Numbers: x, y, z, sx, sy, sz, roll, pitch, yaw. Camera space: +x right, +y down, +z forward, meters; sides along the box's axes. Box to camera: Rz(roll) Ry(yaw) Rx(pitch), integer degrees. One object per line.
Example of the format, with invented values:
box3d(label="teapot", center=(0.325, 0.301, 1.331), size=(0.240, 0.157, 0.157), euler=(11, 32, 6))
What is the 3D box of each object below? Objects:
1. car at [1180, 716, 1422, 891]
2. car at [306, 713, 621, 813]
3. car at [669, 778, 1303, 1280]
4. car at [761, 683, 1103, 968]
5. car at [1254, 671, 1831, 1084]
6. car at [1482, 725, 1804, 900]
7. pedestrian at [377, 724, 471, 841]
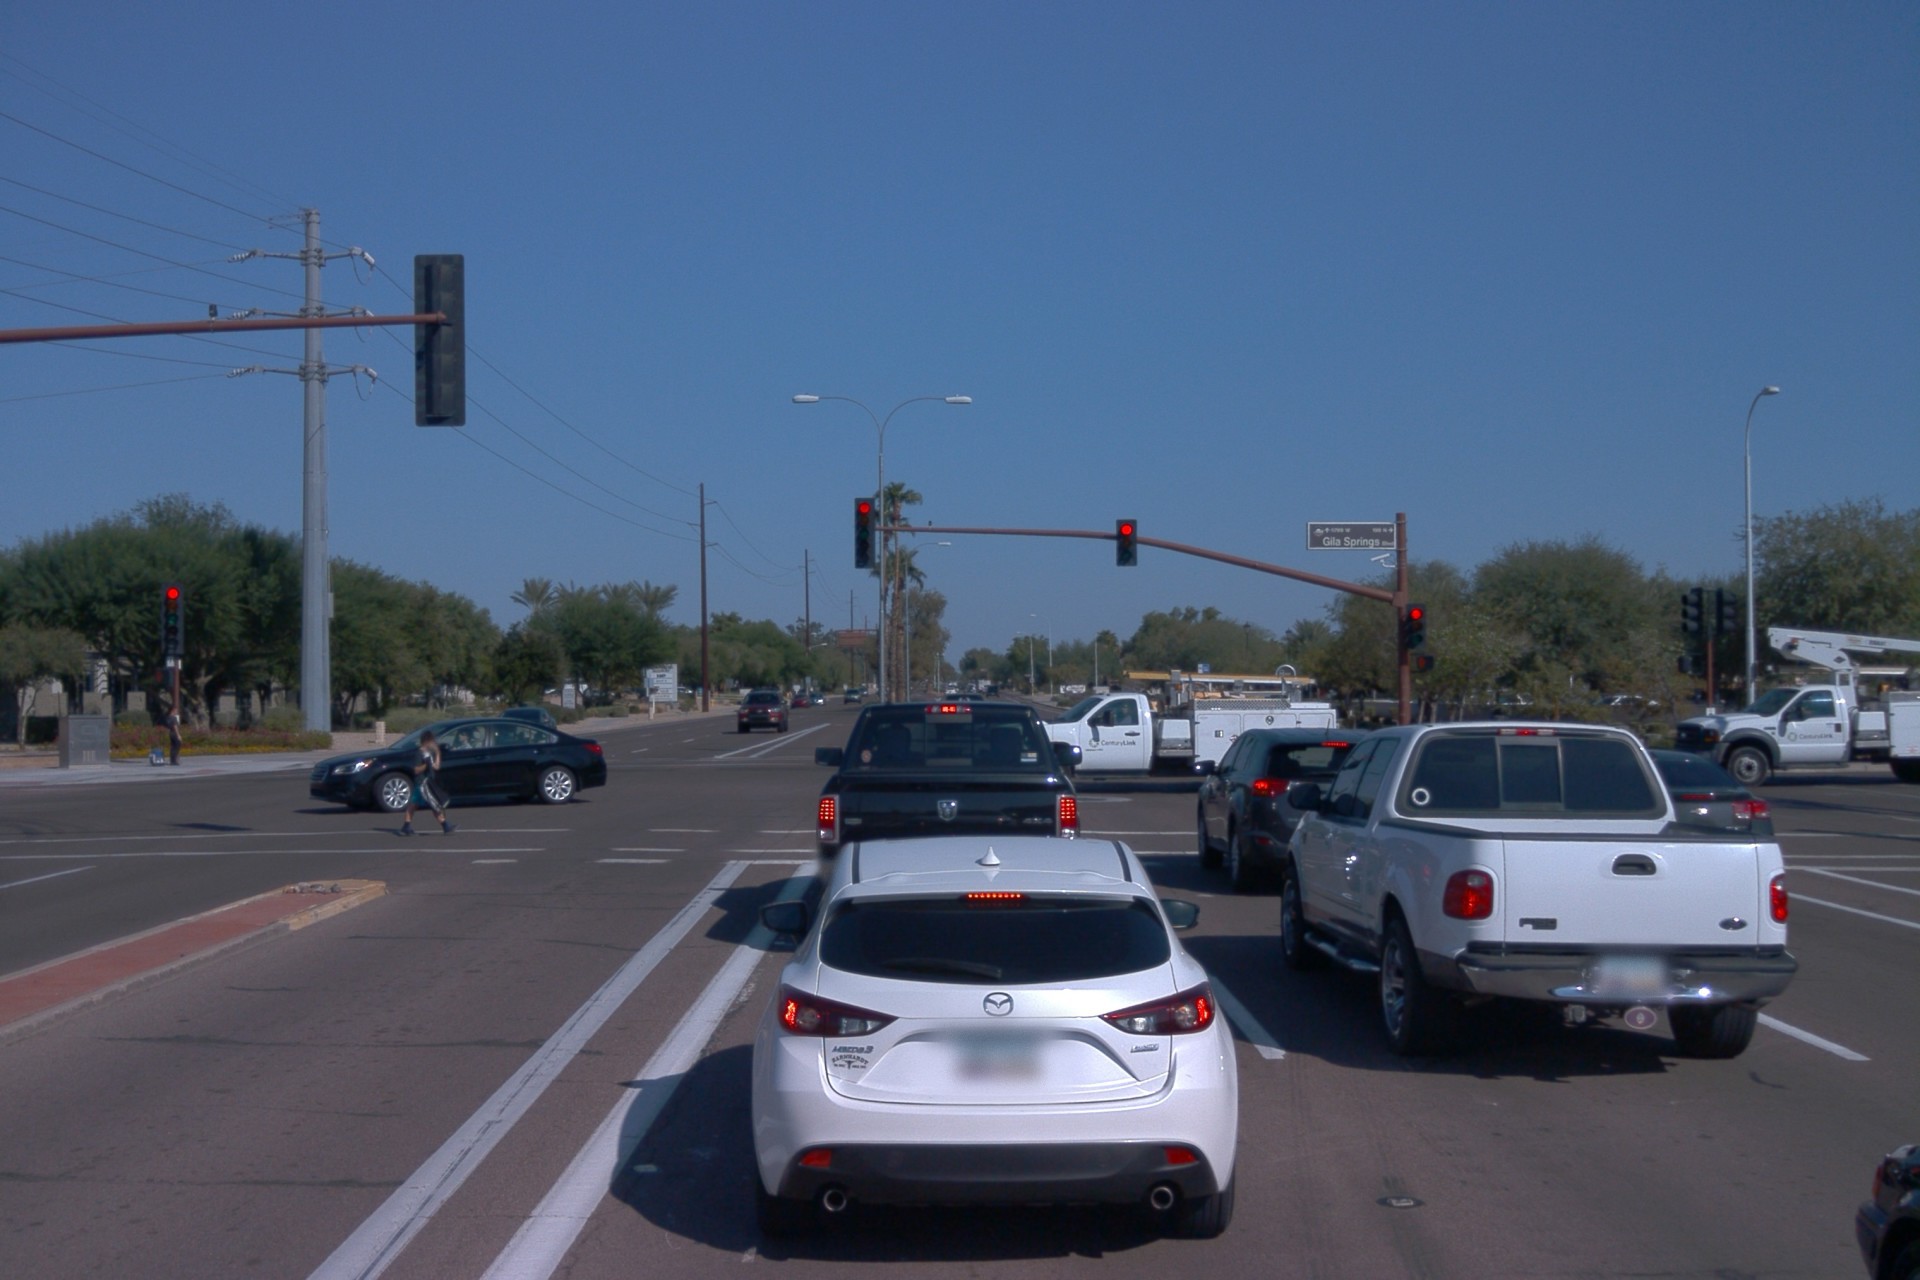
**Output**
box3d(label="car", center=(3.484, 1.642, 22.006), size=(1.789, 1.630, 4.213), euler=(0, -1, -1))
box3d(label="car", center=(-8.224, 2.002, 34.642), size=(4.714, 1.530, 1.934), euler=(1, -2, -34))
box3d(label="car", center=(0.090, 1.505, 9.222), size=(2.099, 1.600, 4.628), euler=(0, -1, 0))
box3d(label="car", center=(-0.129, 1.421, 17.738), size=(2.500, 2.080, 5.001), euler=(0, -1, 2))
box3d(label="car", center=(3.316, 1.266, 13.227), size=(2.073, 2.070, 5.518), euler=(0, -1, 0))
box3d(label="car", center=(6.824, 1.671, 21.334), size=(1.828, 1.540, 4.447), euler=(0, -1, 0))
box3d(label="pedestrian", center=(-7.149, 1.886, 27.790), size=(1.087, 1.530, 0.743), euler=(0, -1, -3))
